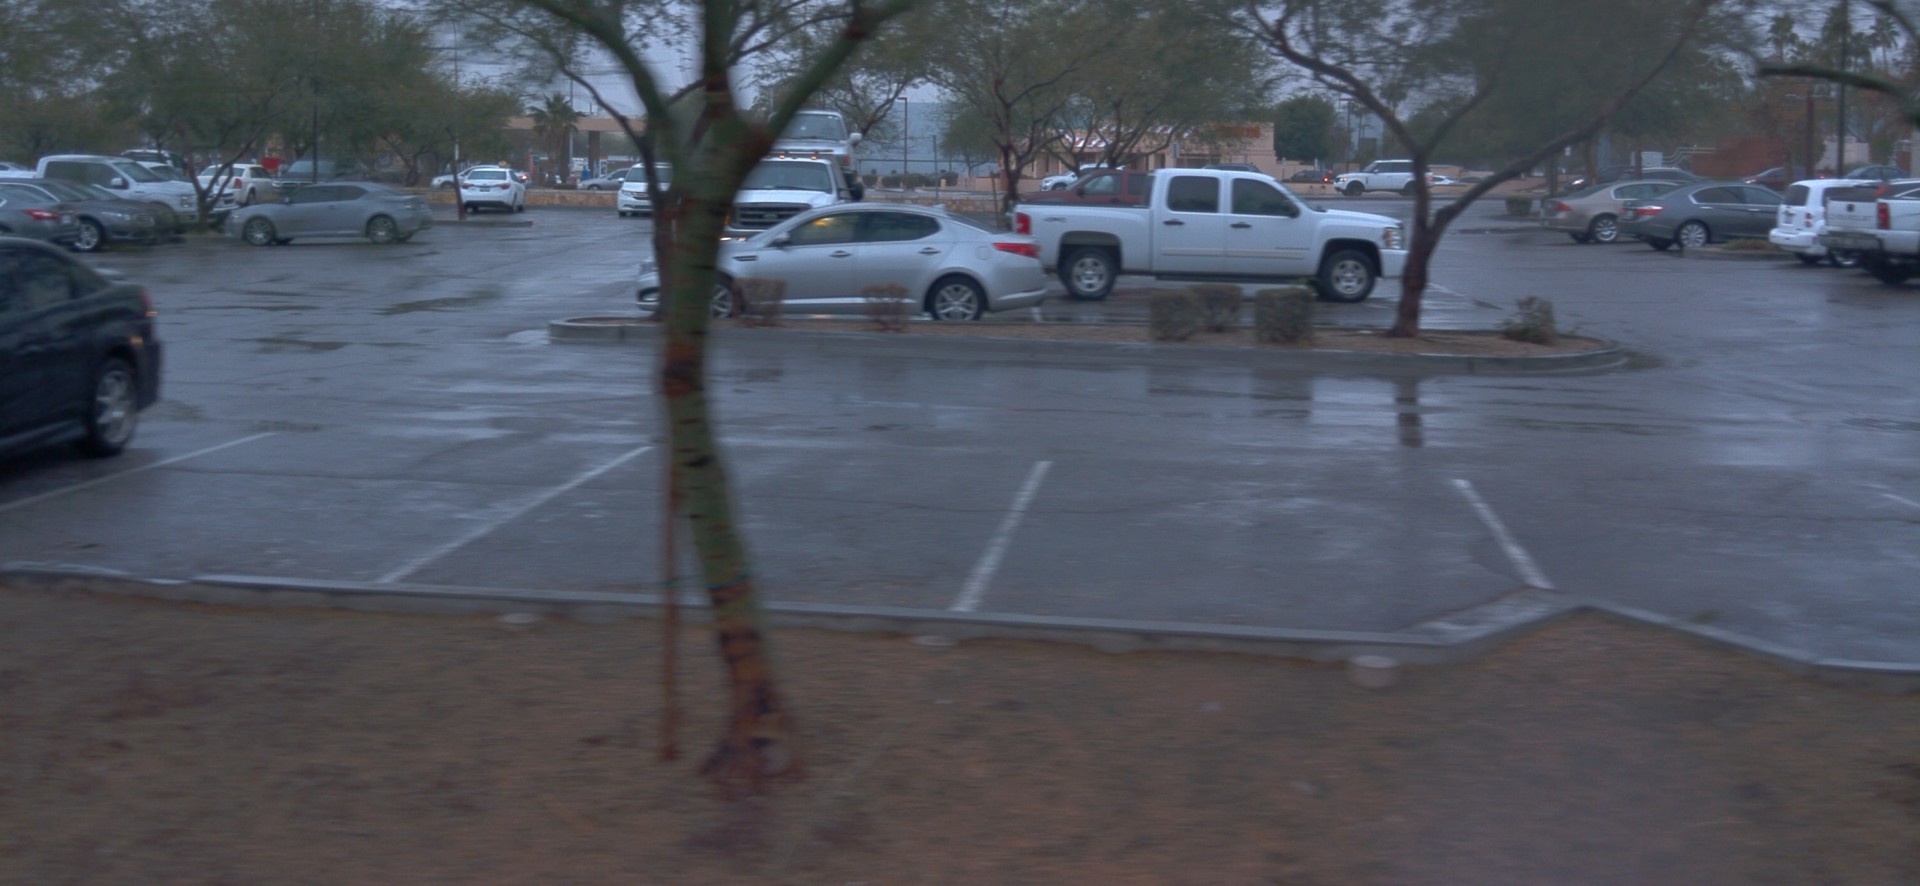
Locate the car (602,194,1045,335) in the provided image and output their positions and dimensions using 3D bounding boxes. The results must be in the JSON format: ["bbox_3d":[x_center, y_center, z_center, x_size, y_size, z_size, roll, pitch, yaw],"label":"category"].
[{"bbox_3d":[-1.524,-2.106,24.360,4.942,1.536,2.209,0,4,-1],"label":"car"}]

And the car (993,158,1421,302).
[{"bbox_3d":[3.431,-3.057,29.868,5.900,1.946,2.280,0,3,0],"label":"car"}]

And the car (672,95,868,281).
[{"bbox_3d":[-3.125,-4.374,36.464,2.854,2.828,8.829,0,5,-2],"label":"car"}]
